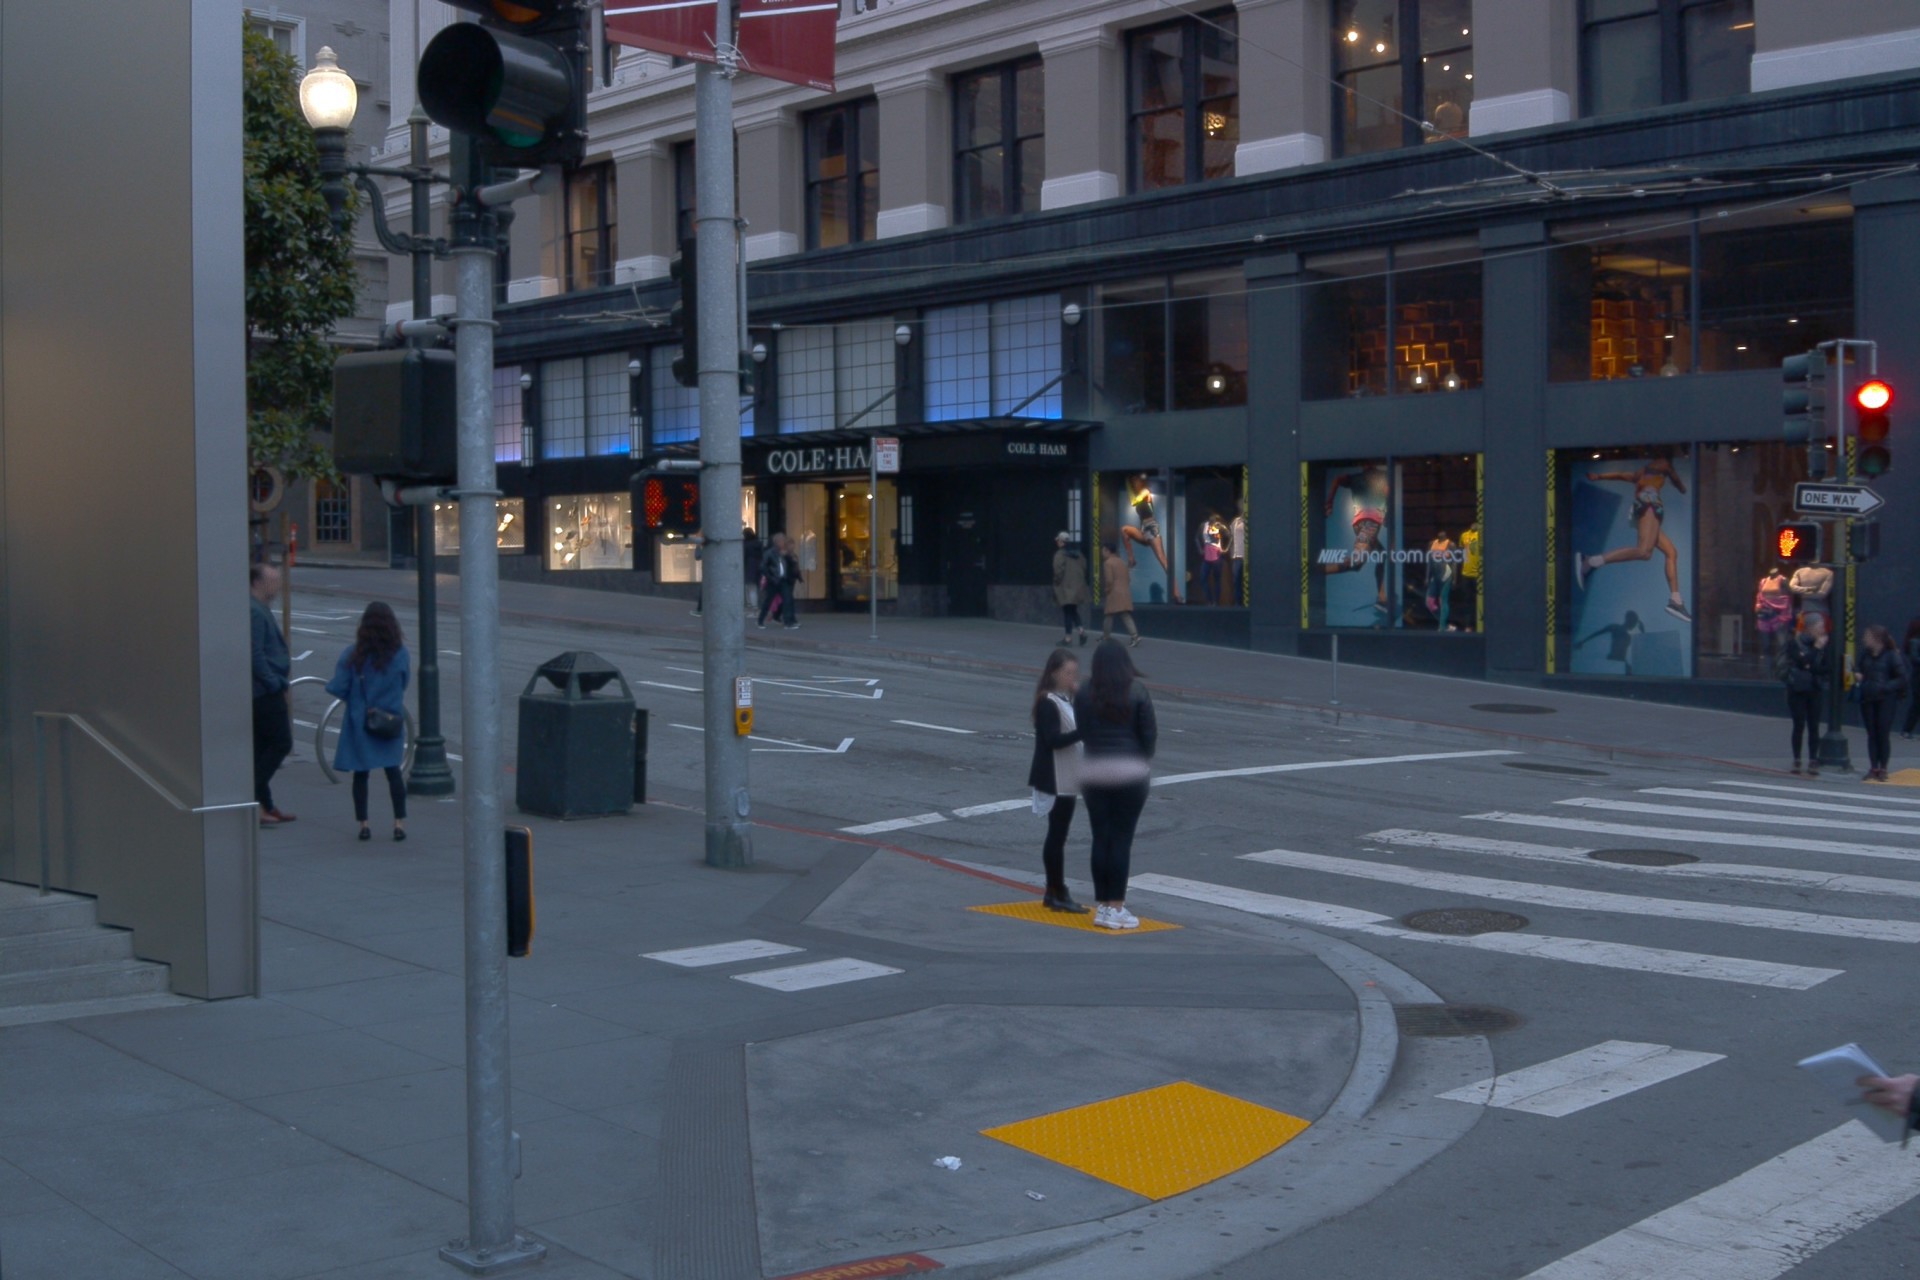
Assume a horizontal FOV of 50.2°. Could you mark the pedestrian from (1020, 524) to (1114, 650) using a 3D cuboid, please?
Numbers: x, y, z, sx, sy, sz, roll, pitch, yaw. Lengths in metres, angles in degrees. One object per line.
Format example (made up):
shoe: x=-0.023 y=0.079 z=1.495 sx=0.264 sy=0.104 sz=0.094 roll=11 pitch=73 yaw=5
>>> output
pedestrian: x=1.674 y=-0.816 z=32.044 sx=0.963 sy=1.920 sz=1.104 roll=0 pitch=1 yaw=-39

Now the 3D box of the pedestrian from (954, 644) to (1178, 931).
pedestrian: x=0.675 y=0.893 z=13.063 sx=1.003 sy=1.710 sz=0.997 roll=0 pitch=1 yaw=-44

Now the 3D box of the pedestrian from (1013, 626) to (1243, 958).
pedestrian: x=1.011 y=0.867 z=12.354 sx=1.113 sy=1.890 sz=0.813 roll=0 pitch=1 yaw=-33

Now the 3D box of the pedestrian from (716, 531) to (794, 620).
pedestrian: x=-3.843 y=-1.197 z=38.431 sx=0.965 sy=1.630 sz=1.148 roll=0 pitch=1 yaw=-42

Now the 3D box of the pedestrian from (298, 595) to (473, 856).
pedestrian: x=-4.019 y=0.567 z=14.330 sx=0.951 sy=1.750 sz=0.801 roll=0 pitch=1 yaw=-37

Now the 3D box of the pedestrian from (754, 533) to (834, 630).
pedestrian: x=-2.877 y=-1.009 z=35.498 sx=1.047 sy=1.650 sz=0.891 roll=1 pitch=1 yaw=43

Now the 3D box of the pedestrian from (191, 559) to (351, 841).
pedestrian: x=-5.008 y=0.406 z=14.874 sx=0.939 sy=1.960 sz=0.981 roll=0 pitch=1 yaw=-29

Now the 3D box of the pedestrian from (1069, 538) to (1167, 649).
pedestrian: x=2.493 y=-0.728 z=32.383 sx=1.053 sy=1.700 sz=1.109 roll=0 pitch=1 yaw=-41

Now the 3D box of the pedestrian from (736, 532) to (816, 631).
pedestrian: x=-3.140 y=-0.987 z=34.958 sx=1.047 sy=1.650 sz=0.891 roll=1 pitch=1 yaw=43

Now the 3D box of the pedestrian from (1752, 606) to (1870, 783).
pedestrian: x=8.945 y=0.543 z=21.527 sx=0.895 sy=1.800 sz=1.088 roll=1 pitch=1 yaw=36
